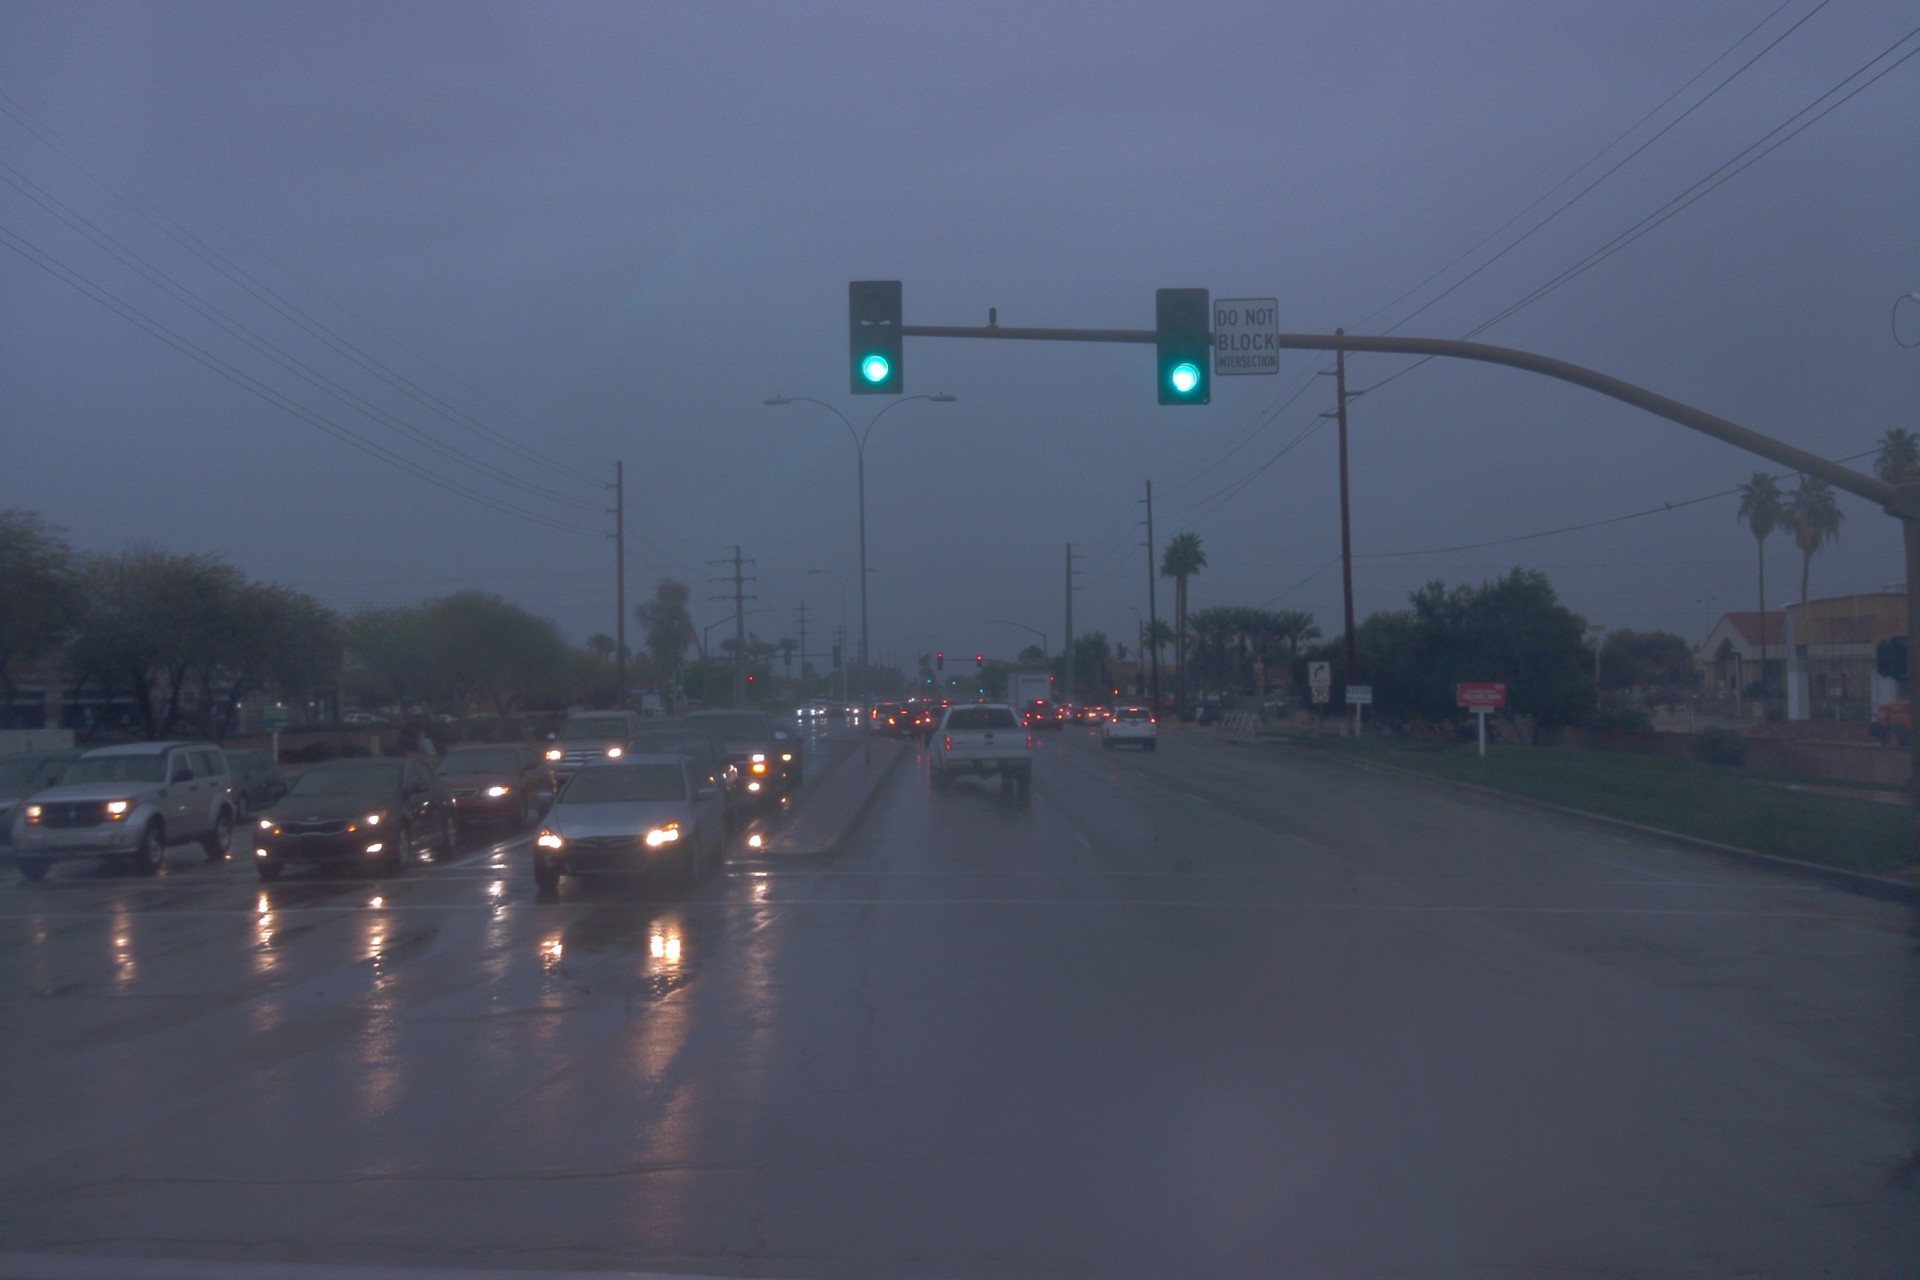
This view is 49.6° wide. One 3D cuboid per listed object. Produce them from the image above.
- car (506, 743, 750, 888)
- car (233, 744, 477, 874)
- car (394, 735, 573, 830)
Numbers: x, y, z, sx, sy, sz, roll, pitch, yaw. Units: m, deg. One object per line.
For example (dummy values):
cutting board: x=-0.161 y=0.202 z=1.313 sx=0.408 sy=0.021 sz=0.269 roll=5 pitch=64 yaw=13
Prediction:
car: x=-3.799 y=2.000 z=24.605 sx=2.102 sy=1.410 sz=4.605 roll=0 pitch=-1 yaw=1
car: x=-7.994 y=2.193 z=27.935 sx=2.042 sy=1.440 sz=4.763 roll=0 pitch=-1 yaw=-2
car: x=-8.236 y=2.444 z=36.383 sx=2.144 sy=1.410 sz=4.797 roll=0 pitch=-1 yaw=-1
